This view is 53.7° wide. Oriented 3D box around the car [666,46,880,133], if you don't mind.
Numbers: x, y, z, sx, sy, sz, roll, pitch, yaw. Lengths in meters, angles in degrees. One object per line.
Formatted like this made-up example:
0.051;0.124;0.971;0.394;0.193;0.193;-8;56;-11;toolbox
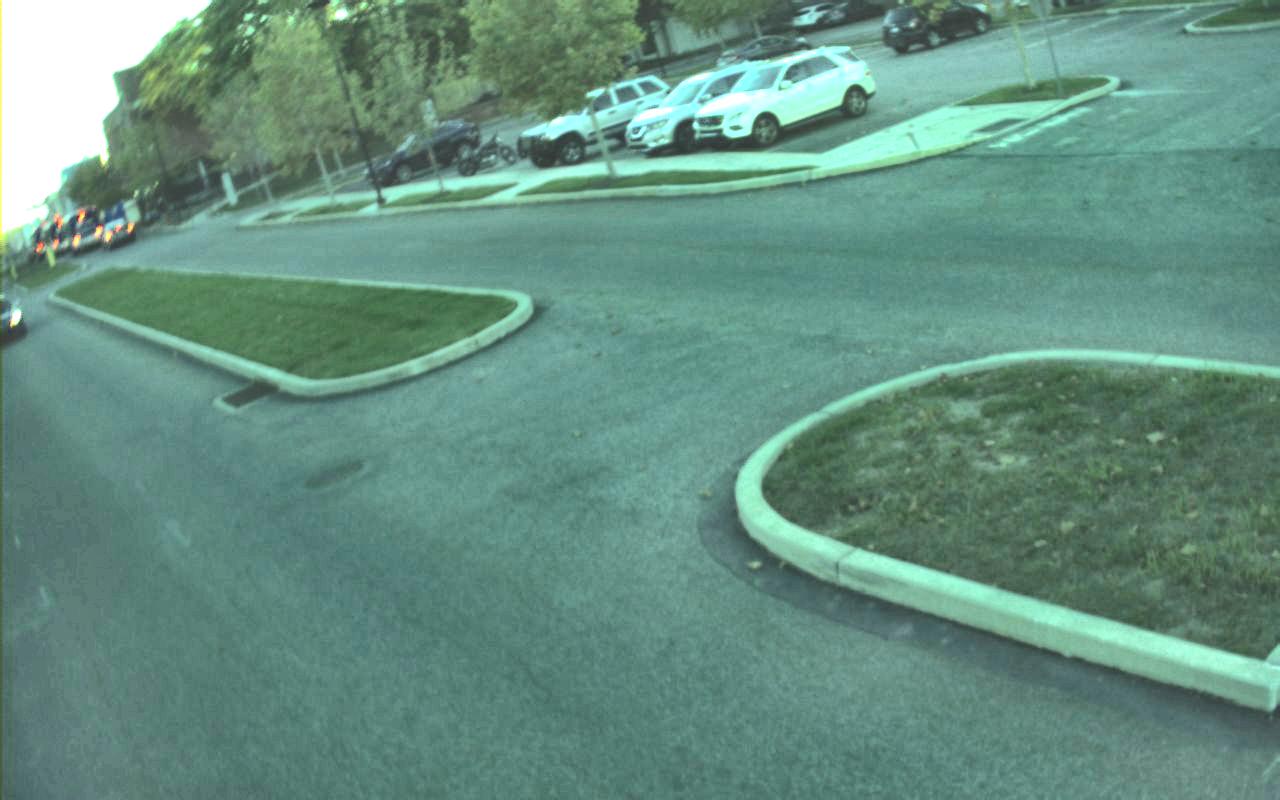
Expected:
3.147;-7.240;28.546;4.845;1.850;2.058;-12;19;-34;car

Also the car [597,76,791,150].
1.379;-7.135;30.655;4.538;1.582;1.955;-12;19;-33;car

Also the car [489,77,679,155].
-1.552;-8.003;34.811;4.938;1.843;2.081;-11;18;-31;car
